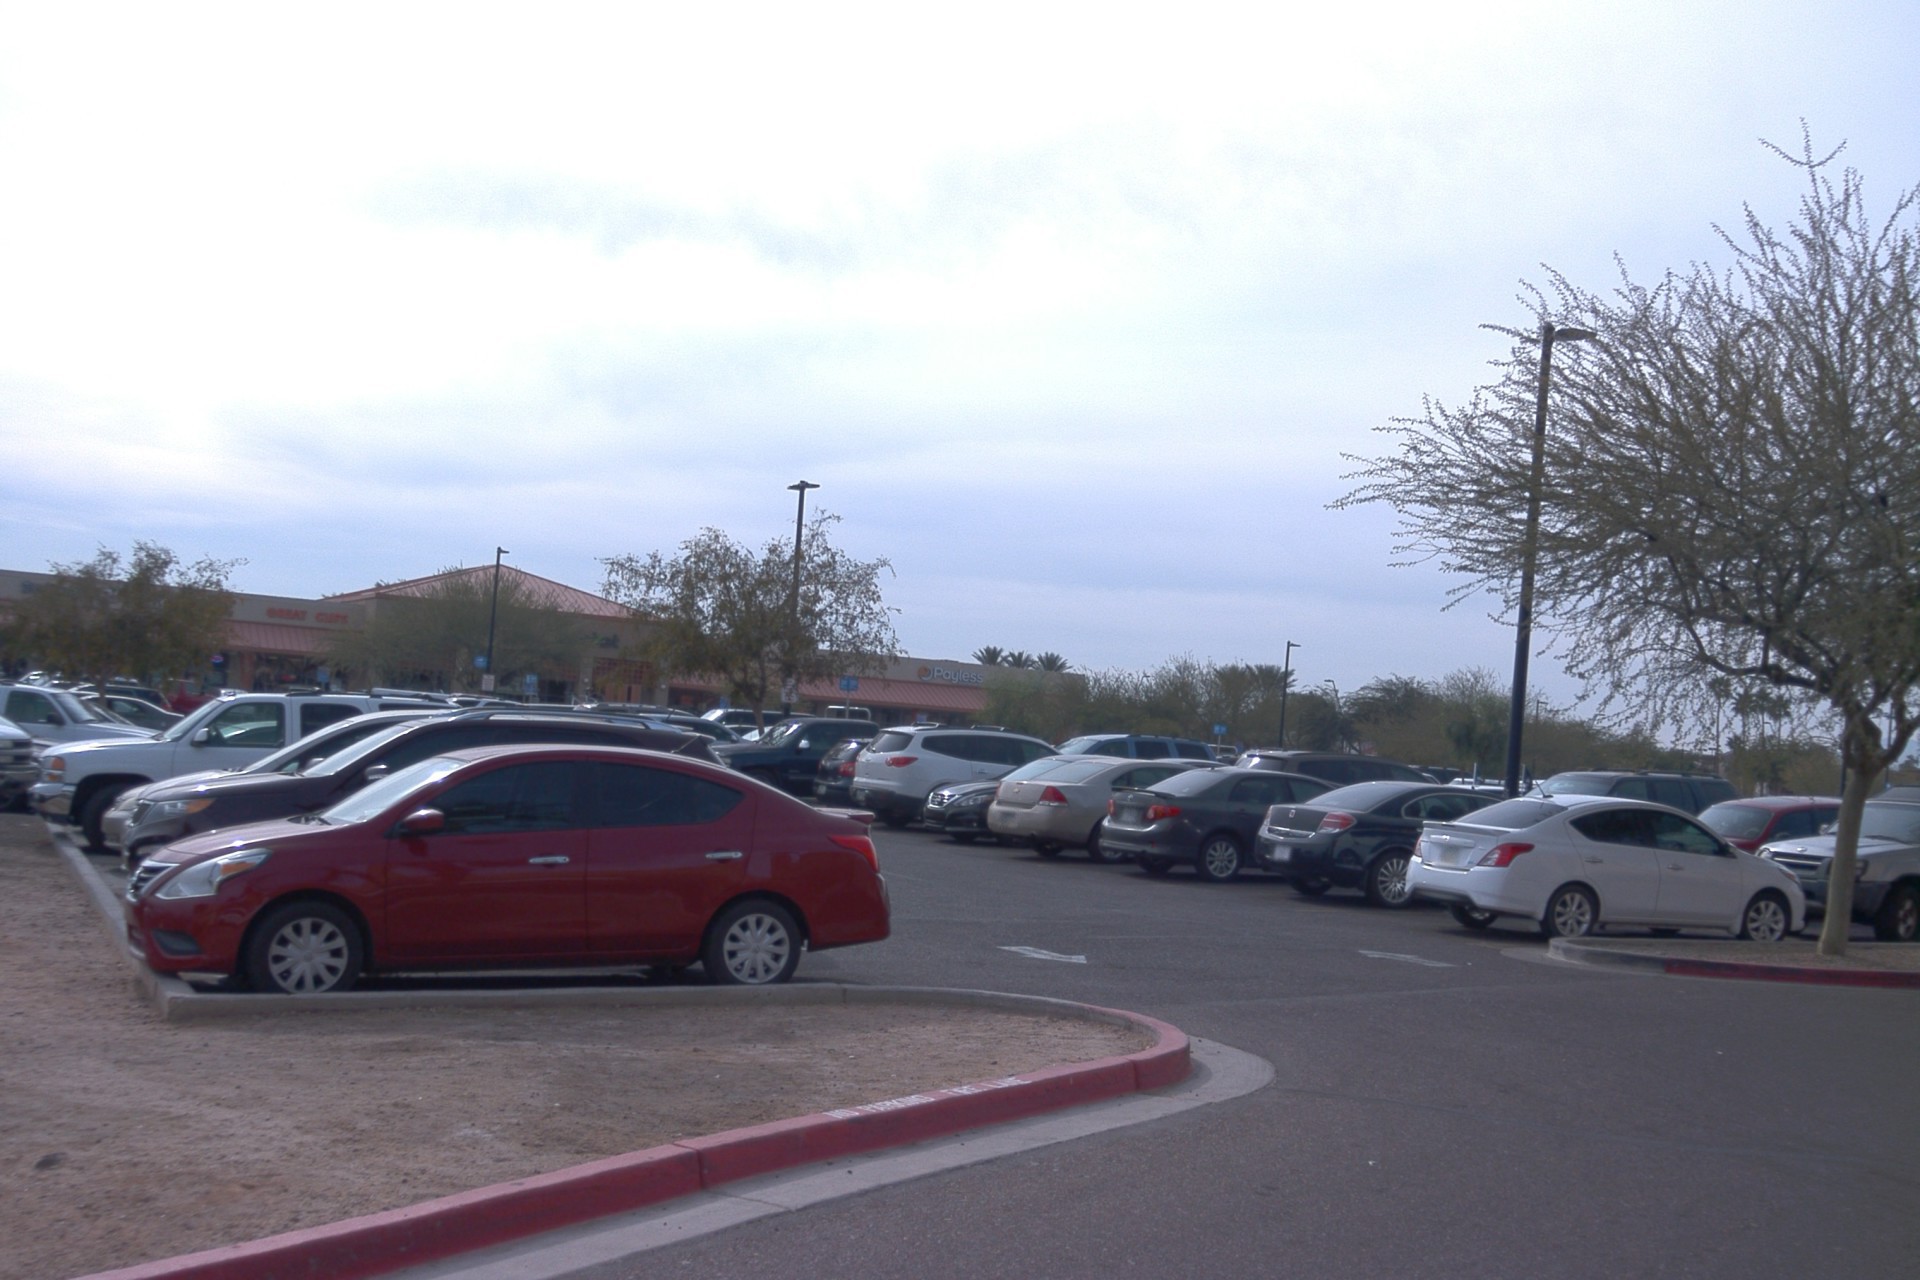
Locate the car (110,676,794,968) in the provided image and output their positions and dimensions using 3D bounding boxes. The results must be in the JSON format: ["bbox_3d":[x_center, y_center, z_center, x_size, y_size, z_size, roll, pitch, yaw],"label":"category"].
[{"bbox_3d":[-3.916,1.295,16.038,4.719,1.930,2.280,1,-1,-27],"label":"car"}]

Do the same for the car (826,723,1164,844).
[{"bbox_3d":[0.619,2.390,35.422,5.246,1.850,2.388,2,-1,-29],"label":"car"}]

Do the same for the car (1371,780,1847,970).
[{"bbox_3d":[6.877,2.400,21.977,4.542,1.680,2.164,1,-1,-26],"label":"car"}]

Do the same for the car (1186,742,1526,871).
[{"bbox_3d":[6.745,2.777,35.336,5.263,1.950,2.391,1,-1,-25],"label":"car"}]

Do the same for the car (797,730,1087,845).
[{"bbox_3d":[-0.314,2.640,37.950,4.794,1.900,2.217,1,-1,-27],"label":"car"}]

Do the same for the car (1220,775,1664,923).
[{"bbox_3d":[5.813,2.449,25.007,4.905,1.500,2.134,1,-1,-24],"label":"car"}]

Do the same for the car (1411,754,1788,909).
[{"bbox_3d":[9.229,2.670,29.876,5.058,1.940,2.312,2,-1,-29],"label":"car"}]

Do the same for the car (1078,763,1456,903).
[{"bbox_3d":[4.053,2.476,27.348,4.538,1.580,2.093,1,-1,-27],"label":"car"}]

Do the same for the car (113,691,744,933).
[{"bbox_3d":[-4.716,1.447,18.437,5.116,1.870,2.261,1,-1,-22],"label":"car"}]

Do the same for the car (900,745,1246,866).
[{"bbox_3d":[1.777,2.527,32.414,4.963,1.660,2.185,1,-1,-28],"label":"car"}]

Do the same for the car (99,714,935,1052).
[{"bbox_3d":[-2.657,1.337,12.650,4.598,1.680,1.960,1,-1,-28],"label":"car"}]

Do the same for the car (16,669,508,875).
[{"bbox_3d":[-7.811,1.423,23.345,4.956,2.090,2.381,1,-1,-22],"label":"car"}]

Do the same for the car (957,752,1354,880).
[{"bbox_3d":[2.841,2.473,29.971,5.253,1.580,2.343,1,-1,-28],"label":"car"}]
